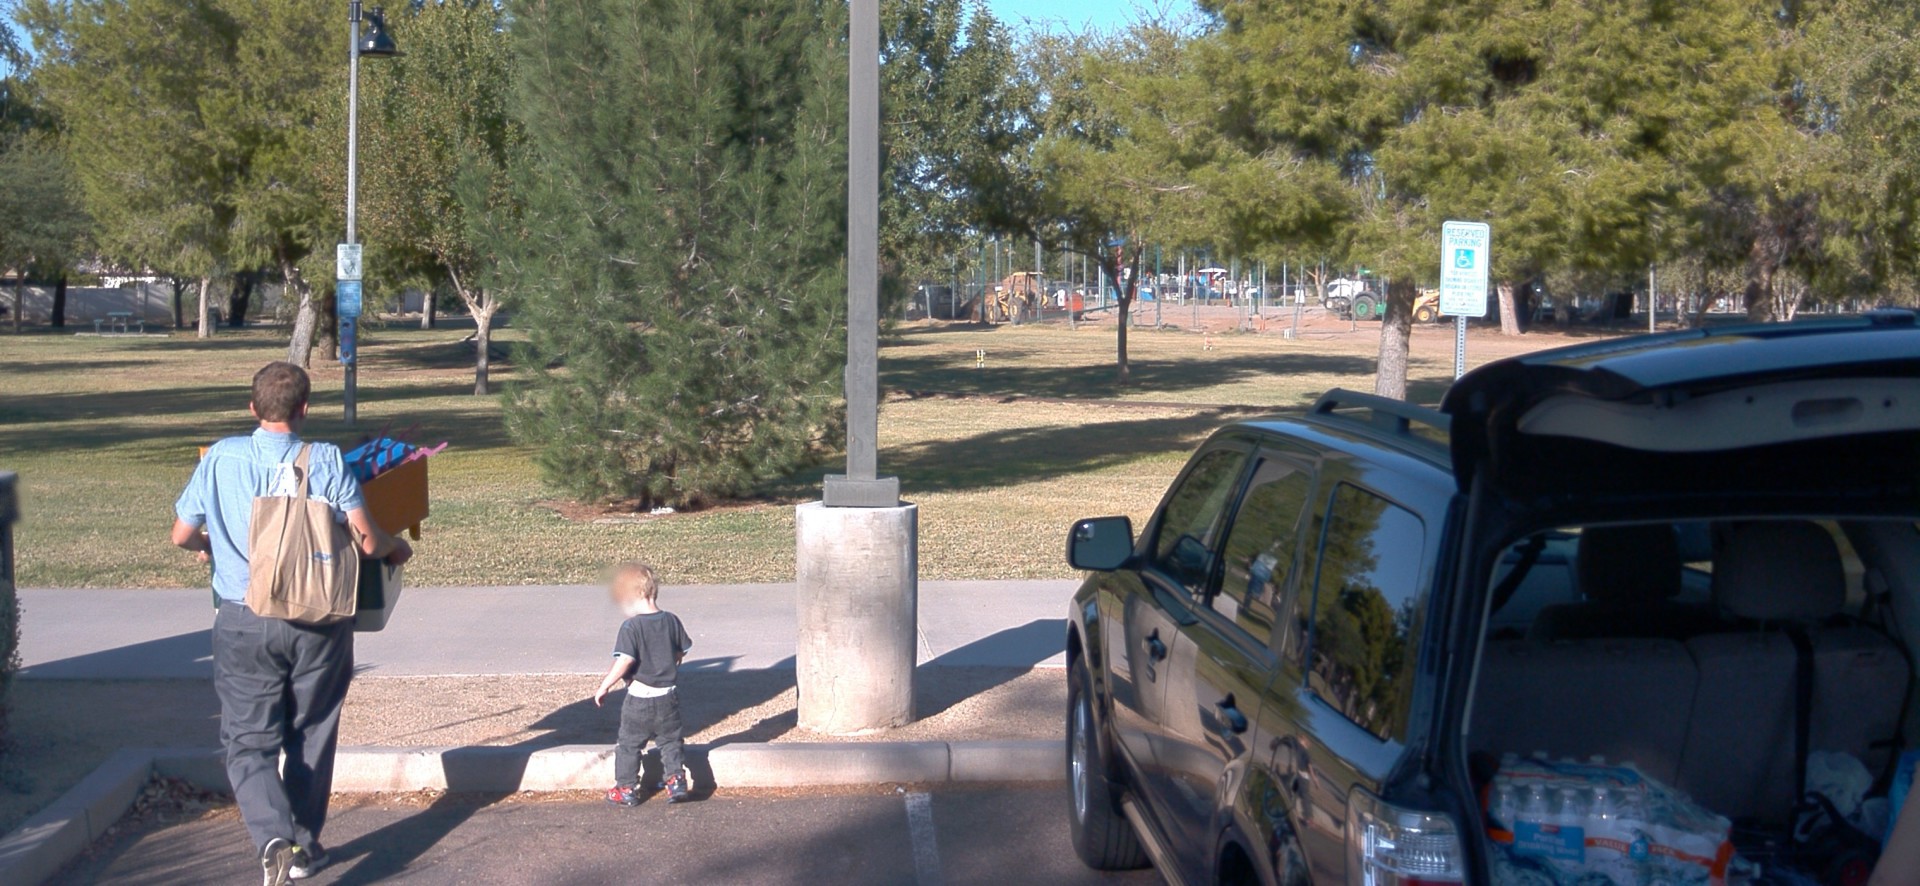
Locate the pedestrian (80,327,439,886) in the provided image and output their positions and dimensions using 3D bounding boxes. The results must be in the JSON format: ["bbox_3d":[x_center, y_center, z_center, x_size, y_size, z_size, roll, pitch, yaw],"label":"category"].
[{"bbox_3d":[-2.231,0.549,6.665,1.003,1.790,0.999,-1,1,-20],"label":"pedestrian"}]

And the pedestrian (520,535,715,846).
[{"bbox_3d":[-1.269,0.886,7.716,0.538,0.990,0.534,-1,1,-33],"label":"pedestrian"}]

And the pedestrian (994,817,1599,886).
[{"bbox_3d":[0.538,1.255,3.160,0.739,1.120,0.742,0,2,23],"label":"pedestrian"}]
